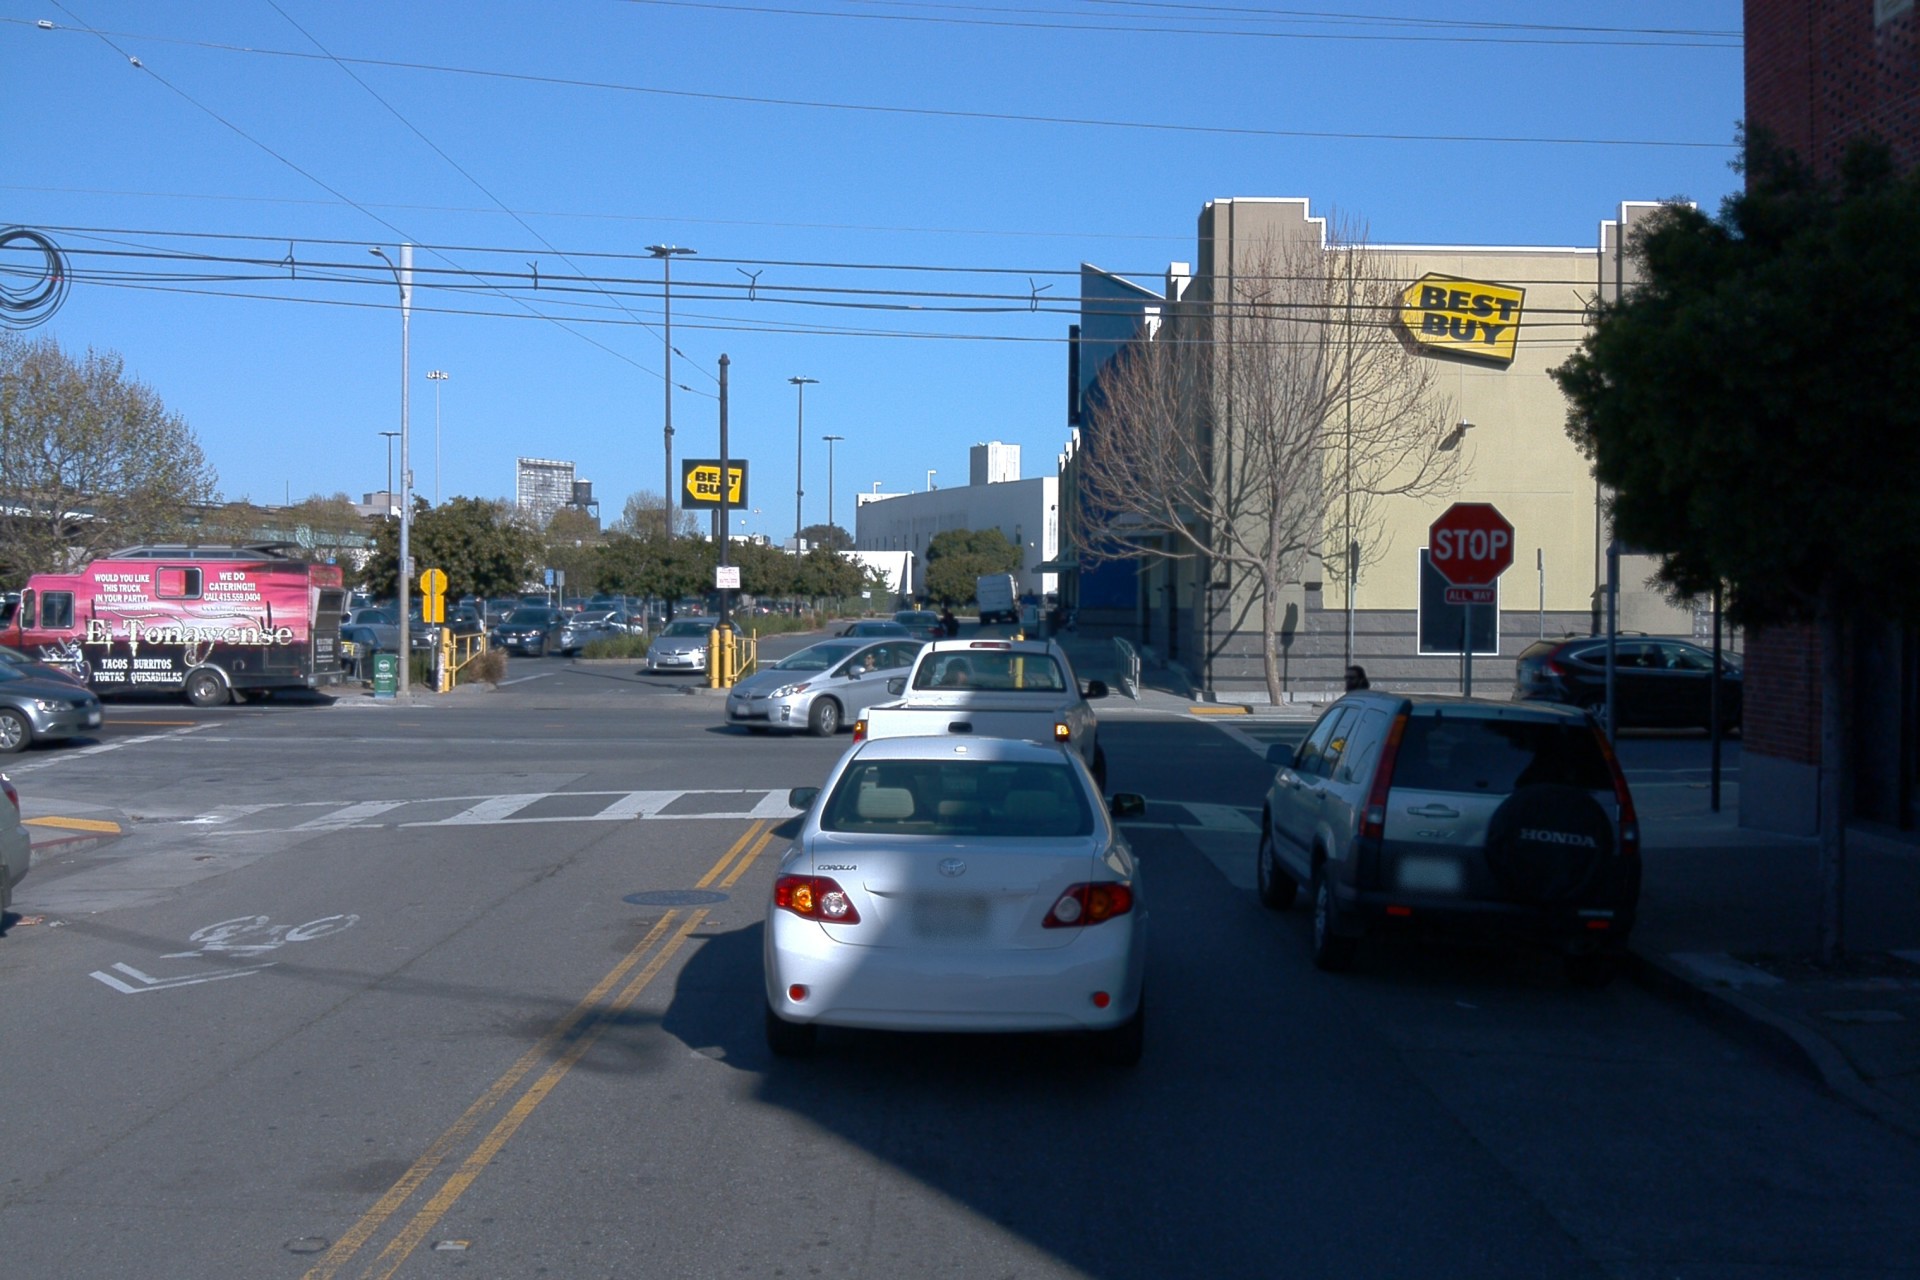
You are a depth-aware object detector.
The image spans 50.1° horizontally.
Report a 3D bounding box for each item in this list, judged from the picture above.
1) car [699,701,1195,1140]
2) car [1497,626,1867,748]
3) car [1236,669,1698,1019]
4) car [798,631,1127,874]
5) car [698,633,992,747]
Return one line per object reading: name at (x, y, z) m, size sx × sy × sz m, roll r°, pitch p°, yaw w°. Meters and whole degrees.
car at (0.013, 1.236, 10.830) m, size 2.045 × 1.580 × 4.504 m, roll 1°, pitch 1°, yaw 2°
car at (11.451, 0.723, 32.853) m, size 5.153 × 1.790 × 2.032 m, roll 1°, pitch 1°, yaw -3°
car at (3.029, 1.133, 13.287) m, size 2.017 × 1.730 × 4.284 m, roll 1°, pitch 1°, yaw 2°
car at (0.227, 0.907, 19.663) m, size 2.387 × 1.880 × 5.555 m, roll 1°, pitch 1°, yaw 8°
car at (-1.754, 0.734, 32.486) m, size 2.089 × 1.630 × 4.374 m, roll 2°, pitch 1°, yaw 43°
